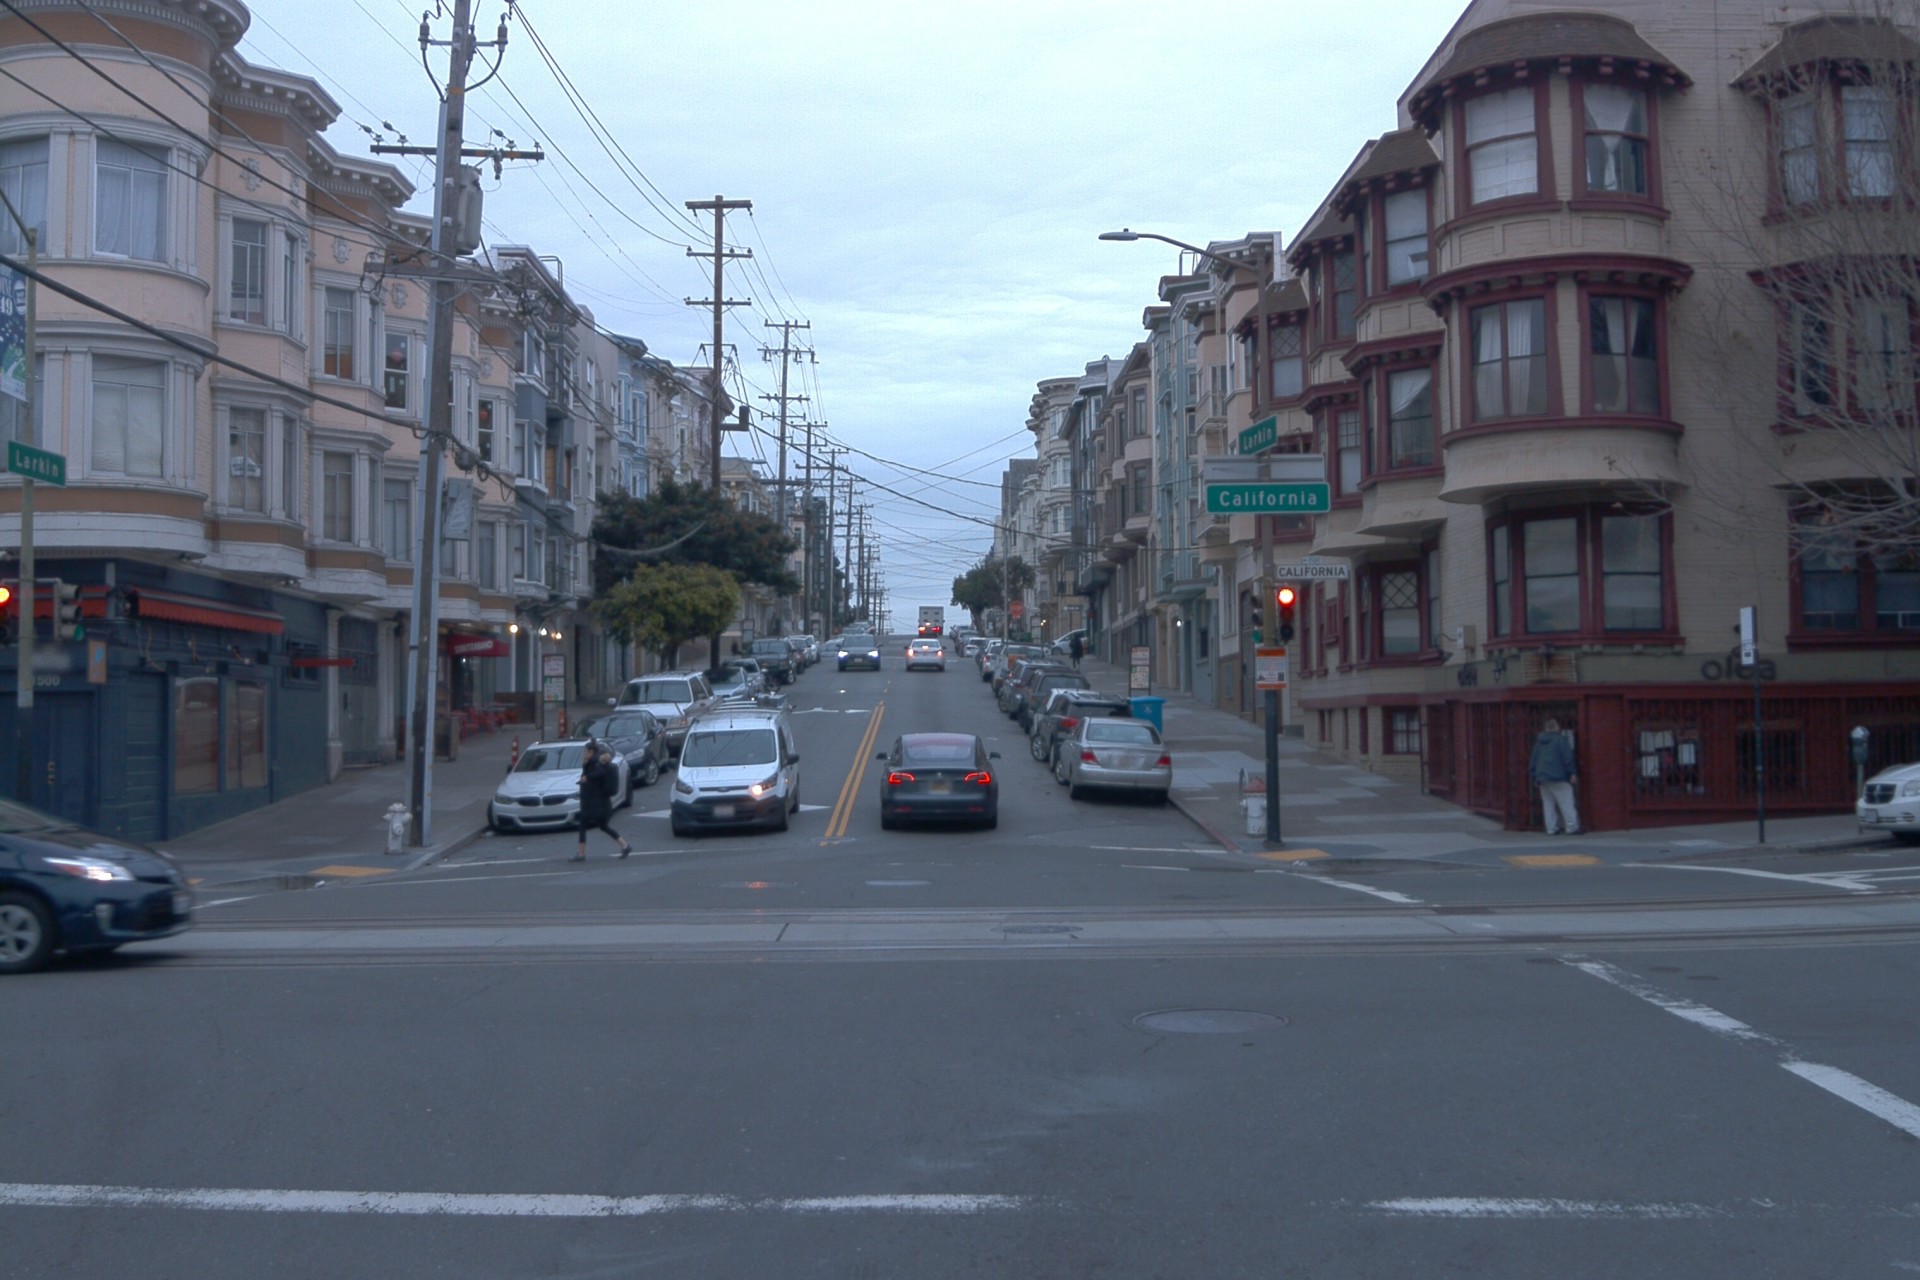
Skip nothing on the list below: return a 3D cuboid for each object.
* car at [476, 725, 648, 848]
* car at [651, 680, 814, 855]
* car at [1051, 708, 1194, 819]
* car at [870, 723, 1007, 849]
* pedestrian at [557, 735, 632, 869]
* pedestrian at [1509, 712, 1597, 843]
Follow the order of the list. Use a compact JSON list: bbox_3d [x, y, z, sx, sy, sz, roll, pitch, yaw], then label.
[{"bbox_3d":[-6.813,2.472,35.708,2.150,1.707,4.680,0,1,-1],"label":"car"},{"bbox_3d":[-3.621,1.981,33.587,2.196,2.490,4.690,0,1,-1],"label":"car"},{"bbox_3d":[2.936,2.232,38.183,2.108,1.700,4.470,0,1,-2],"label":"car"},{"bbox_3d":[-0.370,2.317,33.606,2.064,1.630,4.720,0,1,-1],"label":"car"},{"bbox_3d":[-5.148,2.273,28.992,0.944,1.820,0.722,0,1,-2],"label":"pedestrian"},{"bbox_3d":[8.727,2.005,30.267,0.902,1.830,0.919,-1,1,-44],"label":"pedestrian"}]
